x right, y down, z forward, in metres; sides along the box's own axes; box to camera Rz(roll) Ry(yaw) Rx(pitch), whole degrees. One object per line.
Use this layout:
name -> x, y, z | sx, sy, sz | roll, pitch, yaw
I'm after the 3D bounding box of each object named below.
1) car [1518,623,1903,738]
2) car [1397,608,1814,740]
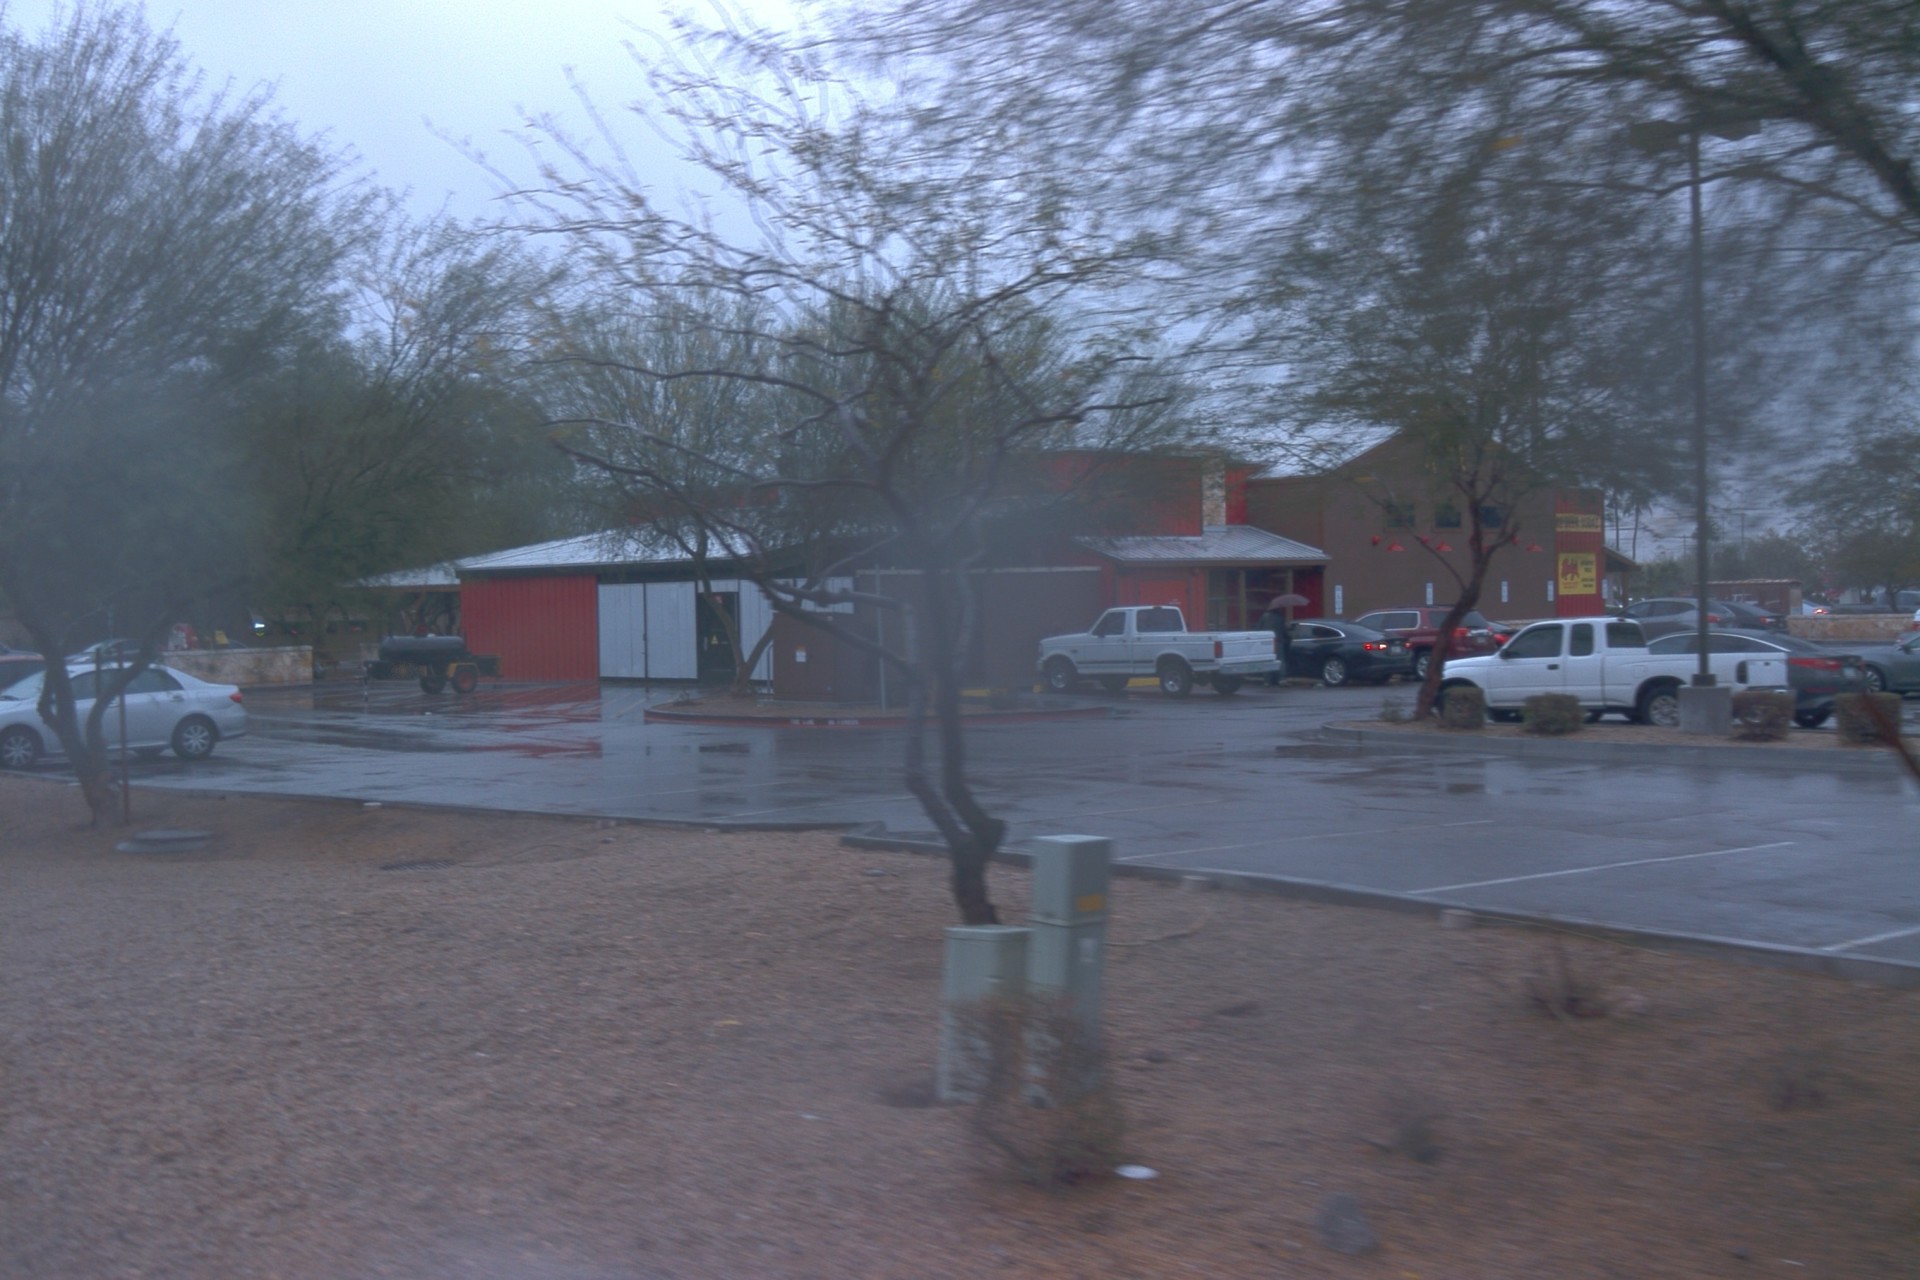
car -> 11.123, 0.580, 31.100 | 4.967, 1.590, 2.128 | 0, -1, 44
car -> 8.999, 0.466, 29.366 | 5.213, 1.700, 2.119 | 0, -1, 43
